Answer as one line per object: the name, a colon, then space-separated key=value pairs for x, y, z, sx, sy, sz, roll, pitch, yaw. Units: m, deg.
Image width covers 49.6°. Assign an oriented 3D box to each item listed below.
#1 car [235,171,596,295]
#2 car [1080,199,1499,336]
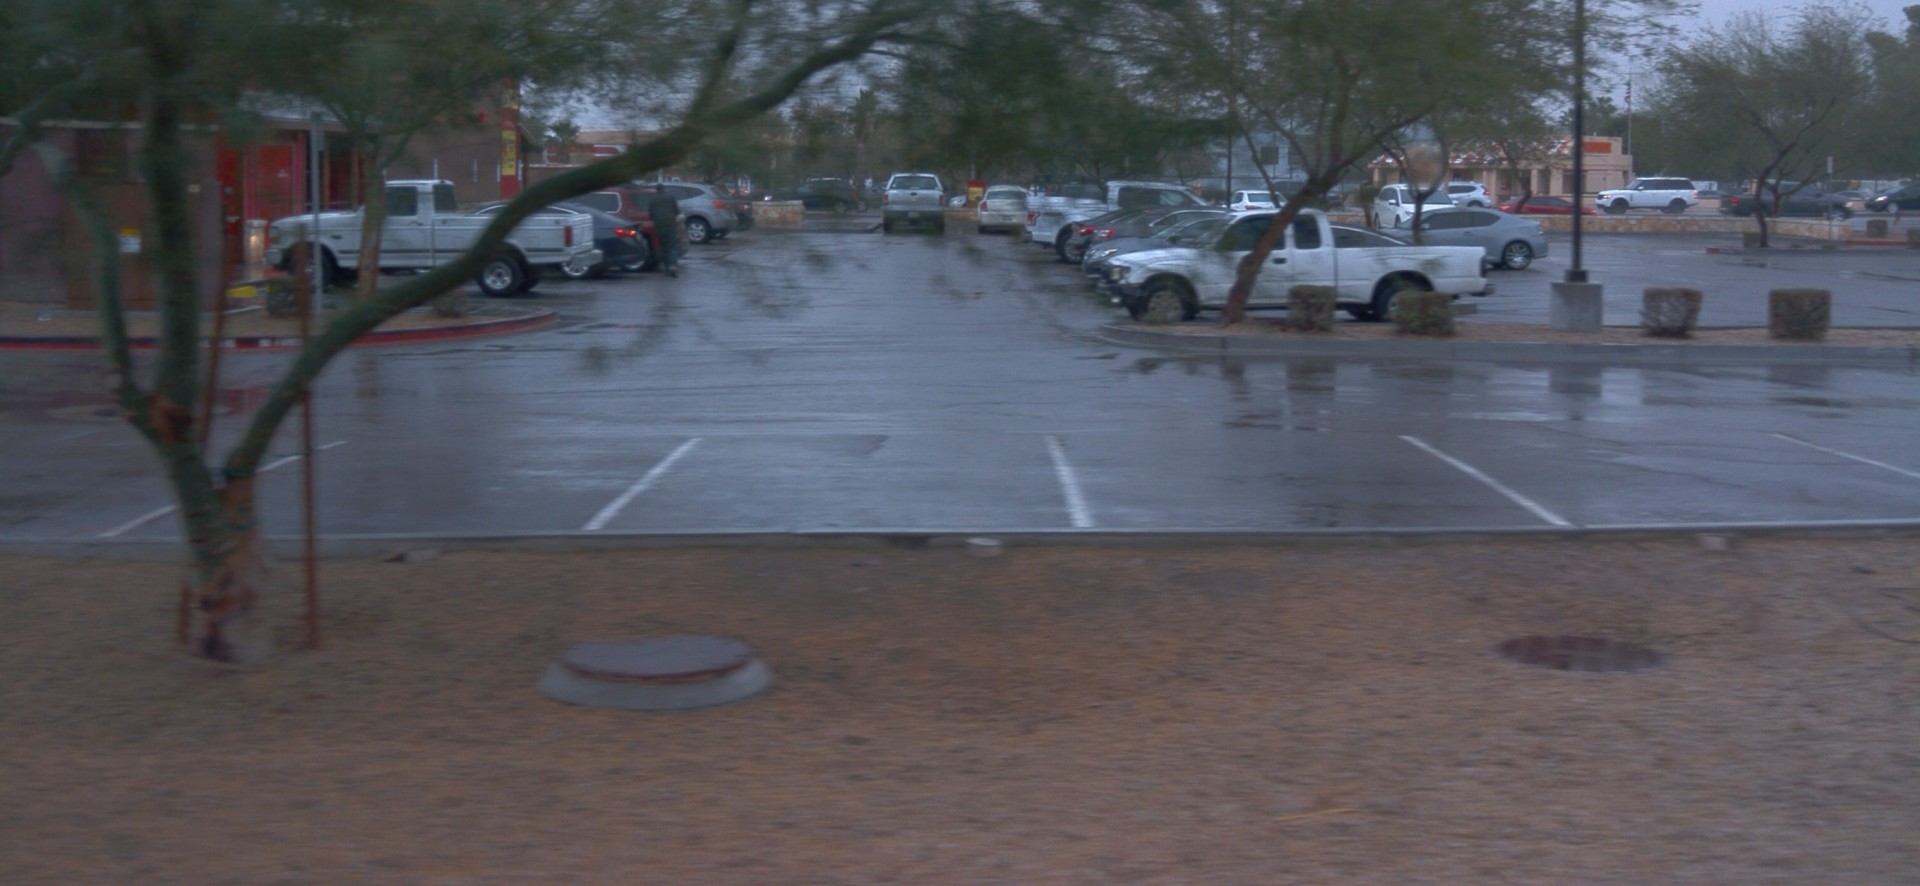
car: x=-8.650 y=-3.376 z=33.389 sx=5.212 sy=1.886 sz=2.117 roll=0 pitch=3 yaw=-1
car: x=4.246 y=-2.335 z=27.425 sx=5.184 sy=1.696 sz=2.141 roll=0 pitch=4 yaw=-1
